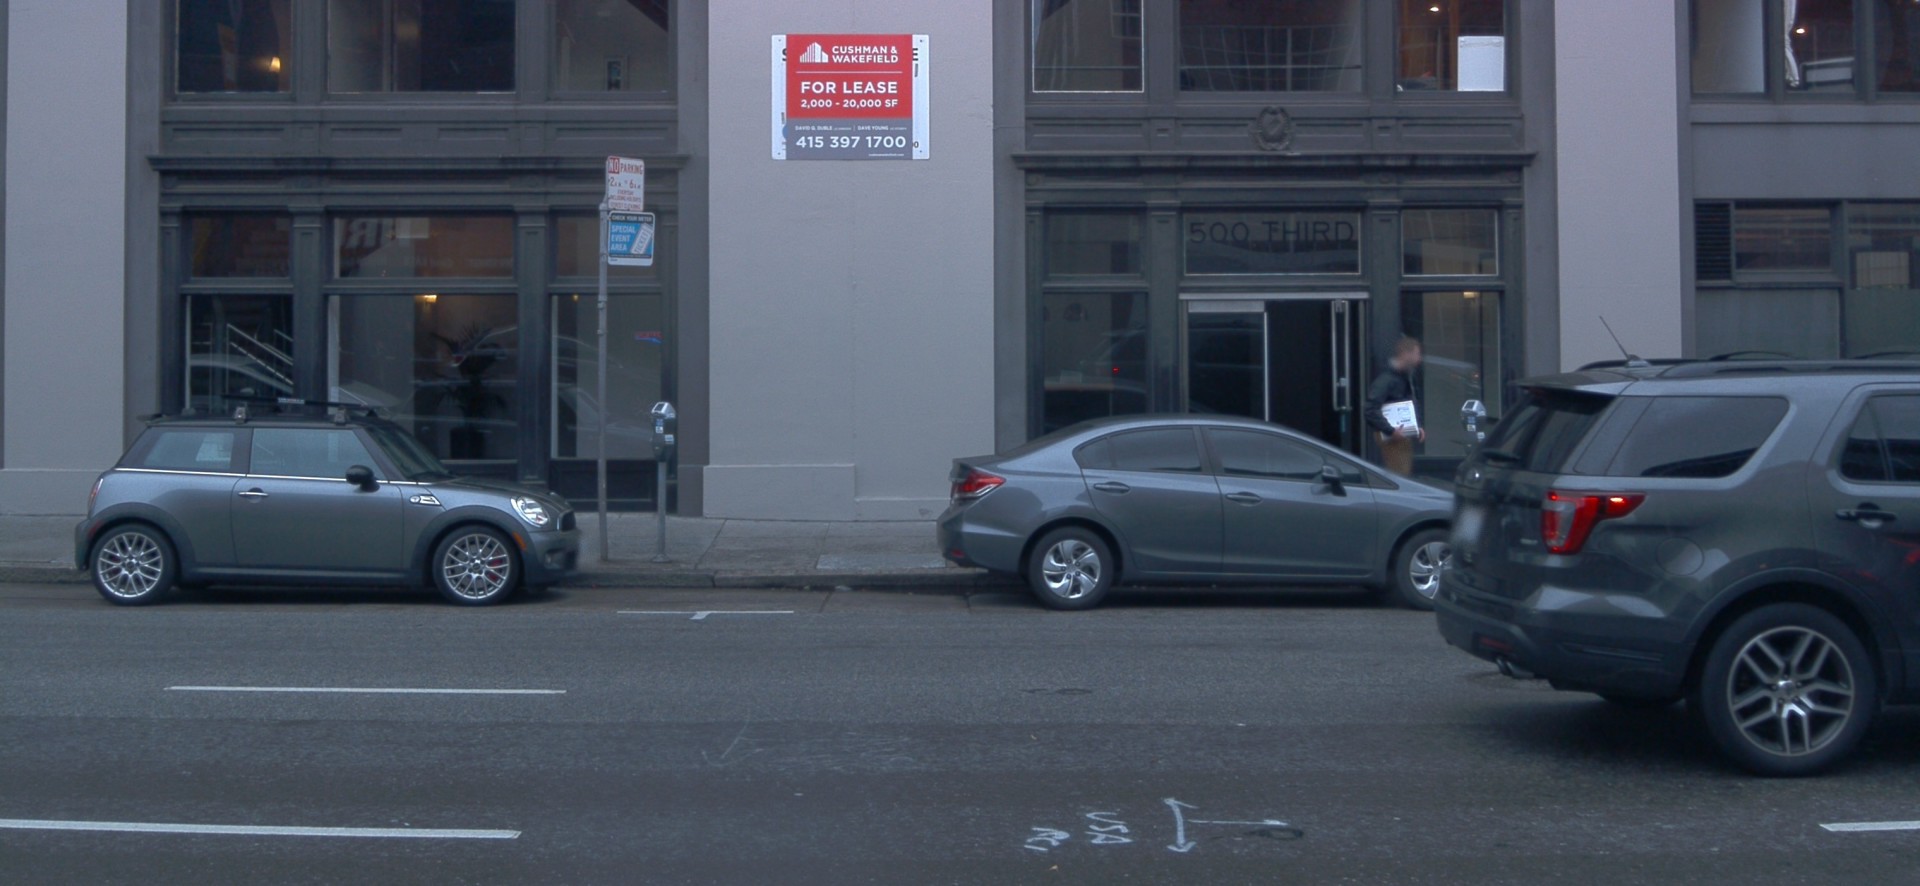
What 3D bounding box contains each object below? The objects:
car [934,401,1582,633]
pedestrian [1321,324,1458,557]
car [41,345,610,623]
[{"bbox_3d":[2.133,0.505,15.851,4.616,1.477,2.025,0,4,-2],"label":"car"},{"bbox_3d":[3.914,-0.062,18.875,0.953,1.990,0.924,1,1,31],"label":"pedestrian"},{"bbox_3d":[-4.702,0.243,15.836,3.807,1.877,1.865,0,3,-3],"label":"car"}]
